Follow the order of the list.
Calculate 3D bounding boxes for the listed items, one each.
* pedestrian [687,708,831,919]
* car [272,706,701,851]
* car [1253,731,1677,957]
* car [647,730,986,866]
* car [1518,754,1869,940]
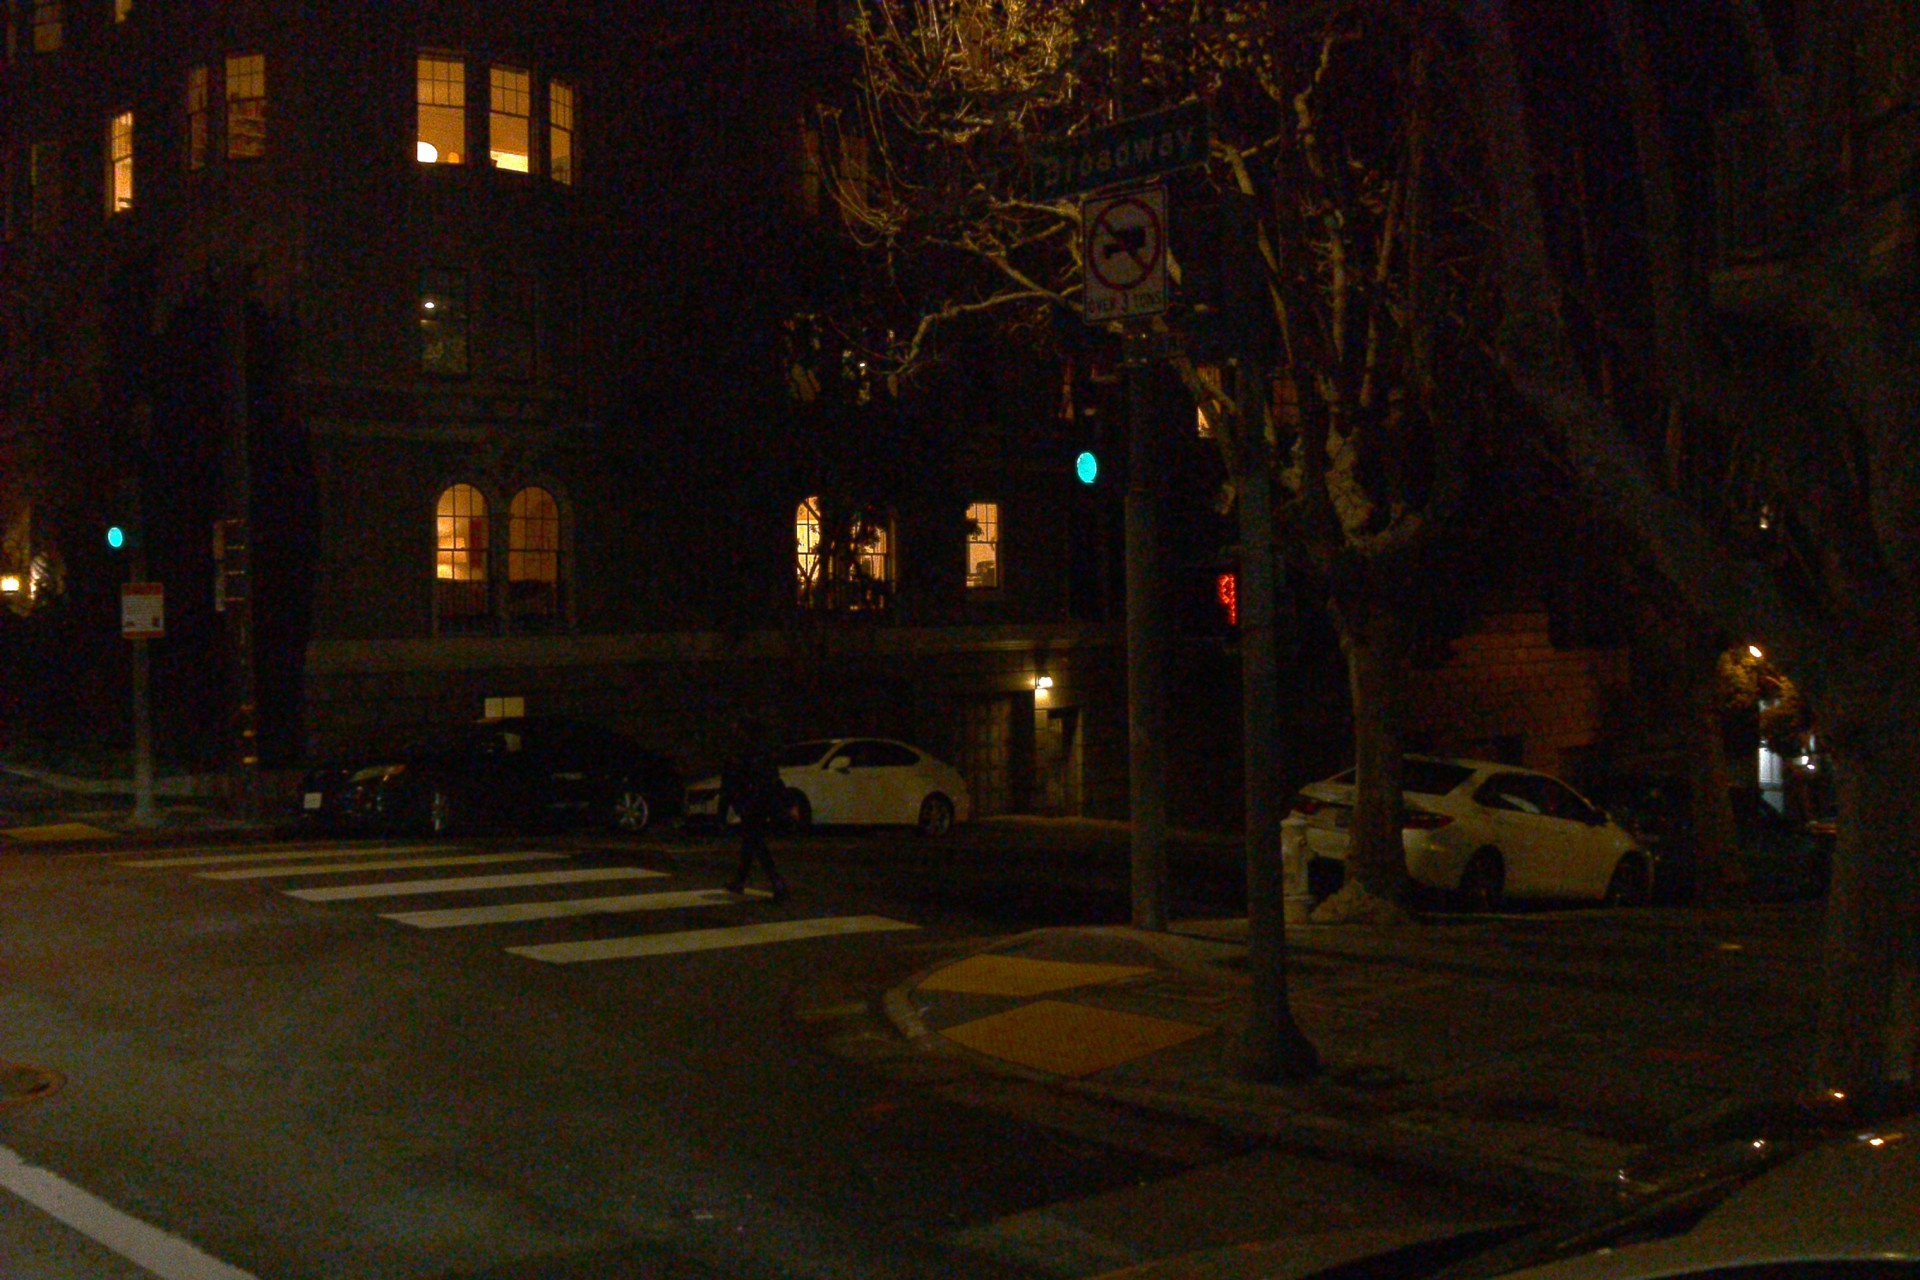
[{"bbox_3d":[-1.591,1.341,16.216,0.706,1.570,0.903,0,0,-44],"label":"pedestrian"},{"bbox_3d":[-5.389,1.529,23.881,1.838,1.362,4.644,1,0,42],"label":"car"},{"bbox_3d":[5.160,1.926,20.643,4.554,1.811,1.990,0,0,-44],"label":"car"},{"bbox_3d":[-1.848,2.052,27.685,1.919,1.482,4.488,1,0,42],"label":"car"},{"bbox_3d":[8.908,2.381,24.708,4.887,1.744,1.990,0,0,-44],"label":"car"}]
